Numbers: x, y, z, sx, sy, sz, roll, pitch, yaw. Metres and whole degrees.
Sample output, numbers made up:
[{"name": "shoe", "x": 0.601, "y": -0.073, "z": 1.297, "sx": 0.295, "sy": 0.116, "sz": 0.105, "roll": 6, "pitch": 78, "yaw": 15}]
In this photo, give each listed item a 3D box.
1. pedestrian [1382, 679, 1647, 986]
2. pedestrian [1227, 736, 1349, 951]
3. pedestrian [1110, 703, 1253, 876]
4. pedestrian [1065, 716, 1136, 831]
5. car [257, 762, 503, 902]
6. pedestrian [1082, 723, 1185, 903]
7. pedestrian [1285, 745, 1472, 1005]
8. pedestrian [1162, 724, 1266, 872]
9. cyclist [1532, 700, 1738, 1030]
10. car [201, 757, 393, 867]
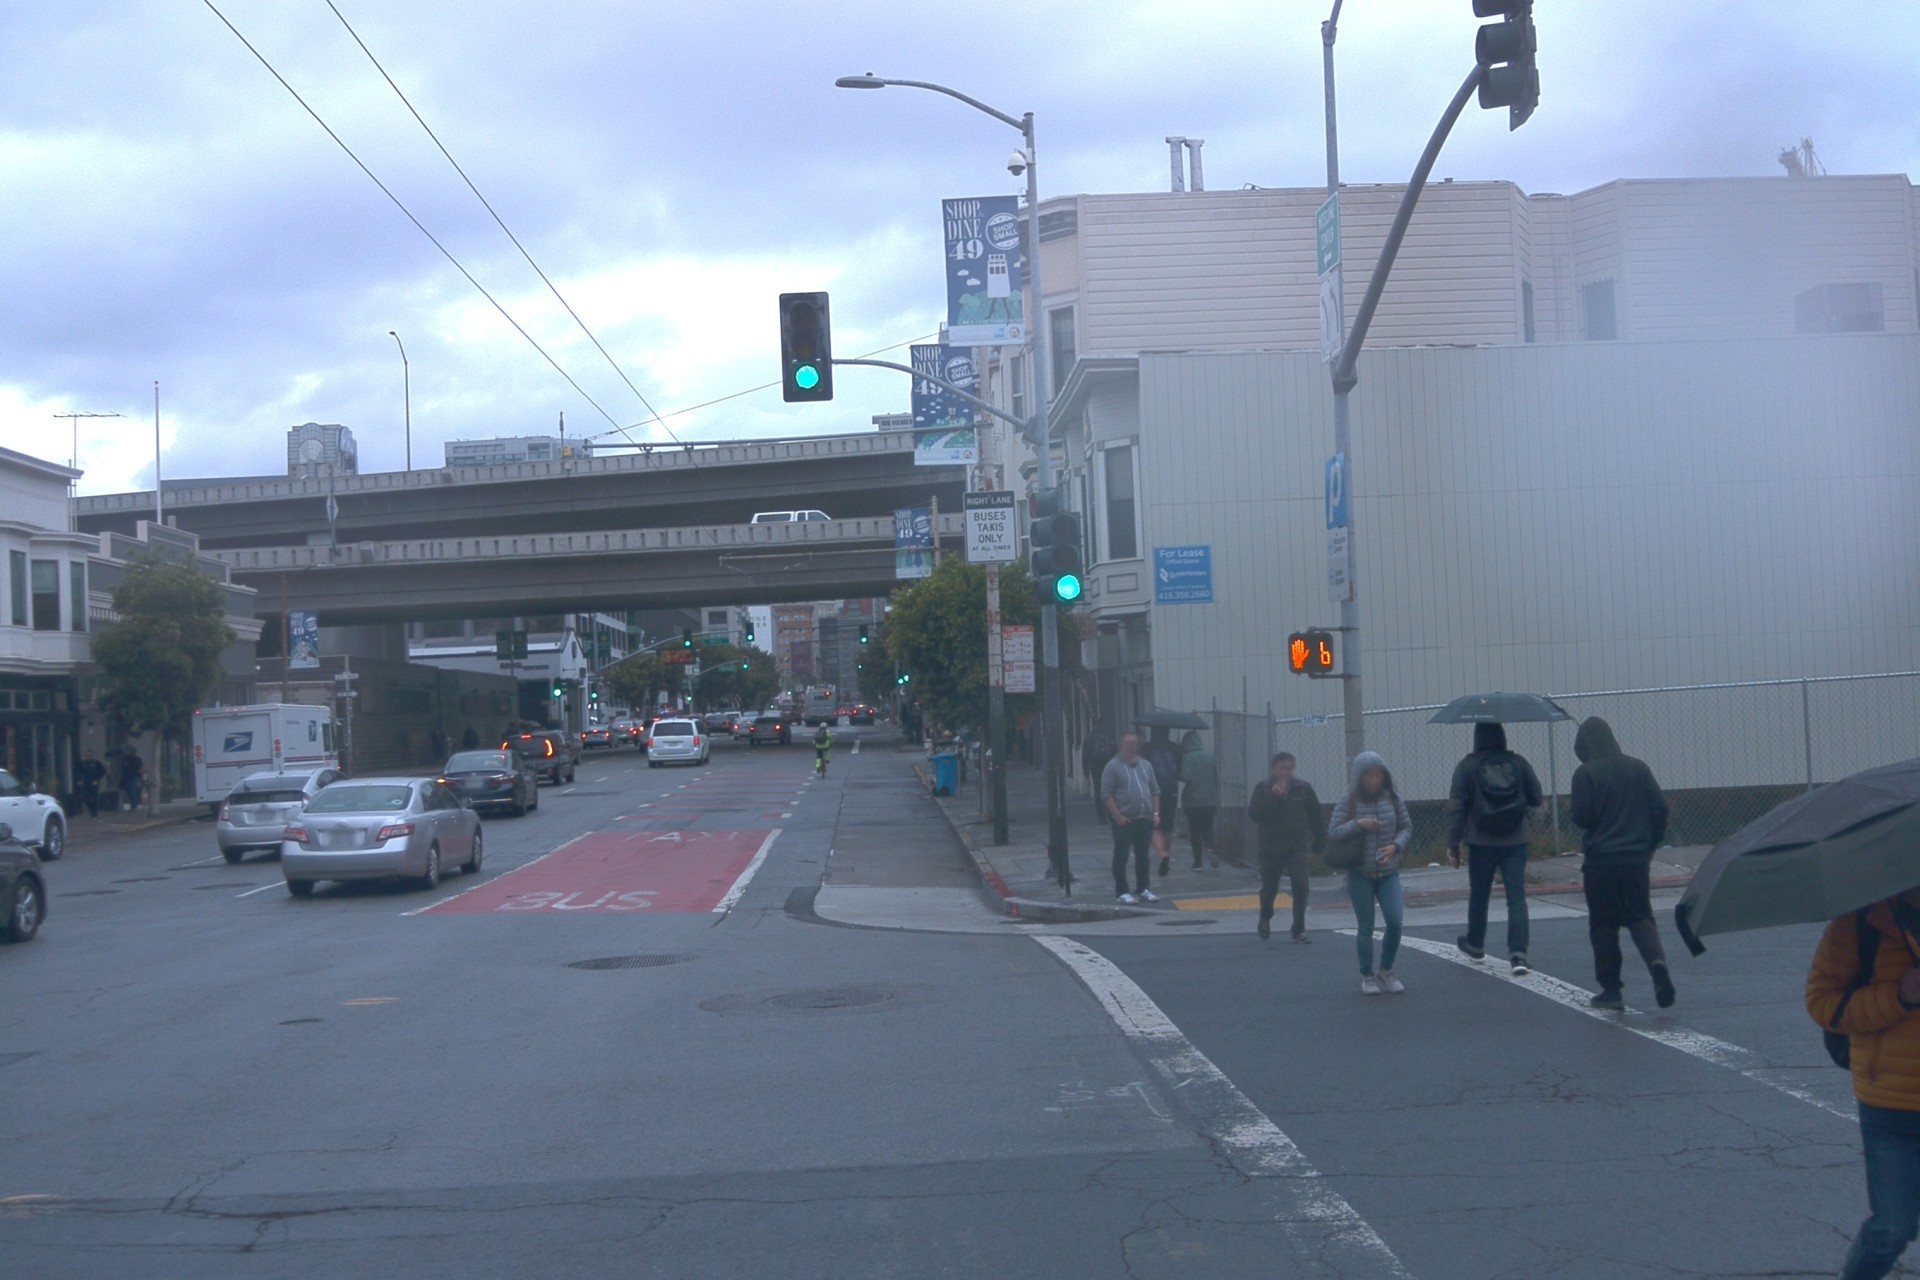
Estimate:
[{"name": "pedestrian", "x": 3.759, "y": 1.263, "z": 14.251, "sx": 1.351, "sy": 1.976, "sz": 1.599, "roll": 0, "pitch": -1, "yaw": -2}, {"name": "pedestrian", "x": 2.697, "y": 1.655, "z": 17.148, "sx": 0.810, "sy": 1.680, "sz": 1.024, "roll": 0, "pitch": -1, "yaw": -2}, {"name": "pedestrian", "x": 2.648, "y": 1.766, "z": 25.014, "sx": 1.409, "sy": 1.988, "sz": 1.525, "roll": 0, "pitch": -1, "yaw": -6}, {"name": "pedestrian", "x": 2.239, "y": 2.120, "z": 33.189, "sx": 1.011, "sy": 1.790, "sz": 1.088, "roll": 0, "pitch": -1, "yaw": -3}, {"name": "car", "x": -7.627, "y": 2.487, "z": 27.780, "sx": 2.082, "sy": 1.490, "sz": 4.812, "roll": 0, "pitch": -1, "yaw": -2}, {"name": "pedestrian", "x": 1.828, "y": 1.805, "z": 21.890, "sx": 0.843, "sy": 1.837, "sz": 0.755, "roll": 0, "pitch": -1, "yaw": -20}, {"name": "pedestrian", "x": 2.652, "y": 1.470, "z": 13.253, "sx": 1.000, "sy": 1.560, "sz": 1.000, "roll": 0, "pitch": -1, "yaw": 1}, {"name": "pedestrian", "x": 3.031, "y": 1.869, "z": 24.849, "sx": 0.990, "sy": 1.692, "sz": 1.085, "roll": 0, "pitch": -1, "yaw": -8}, {"name": "cyclist", "x": 3.895, "y": 1.260, "z": 12.053, "sx": 0.779, "sy": 1.800, "sz": 1.140, "roll": 0, "pitch": -1, "yaw": -3}, {"name": "car", "x": -11.239, "y": 2.884, "z": 35.477, "sx": 1.960, "sy": 1.560, "sz": 4.612, "roll": 0, "pitch": -1, "yaw": -2}]
